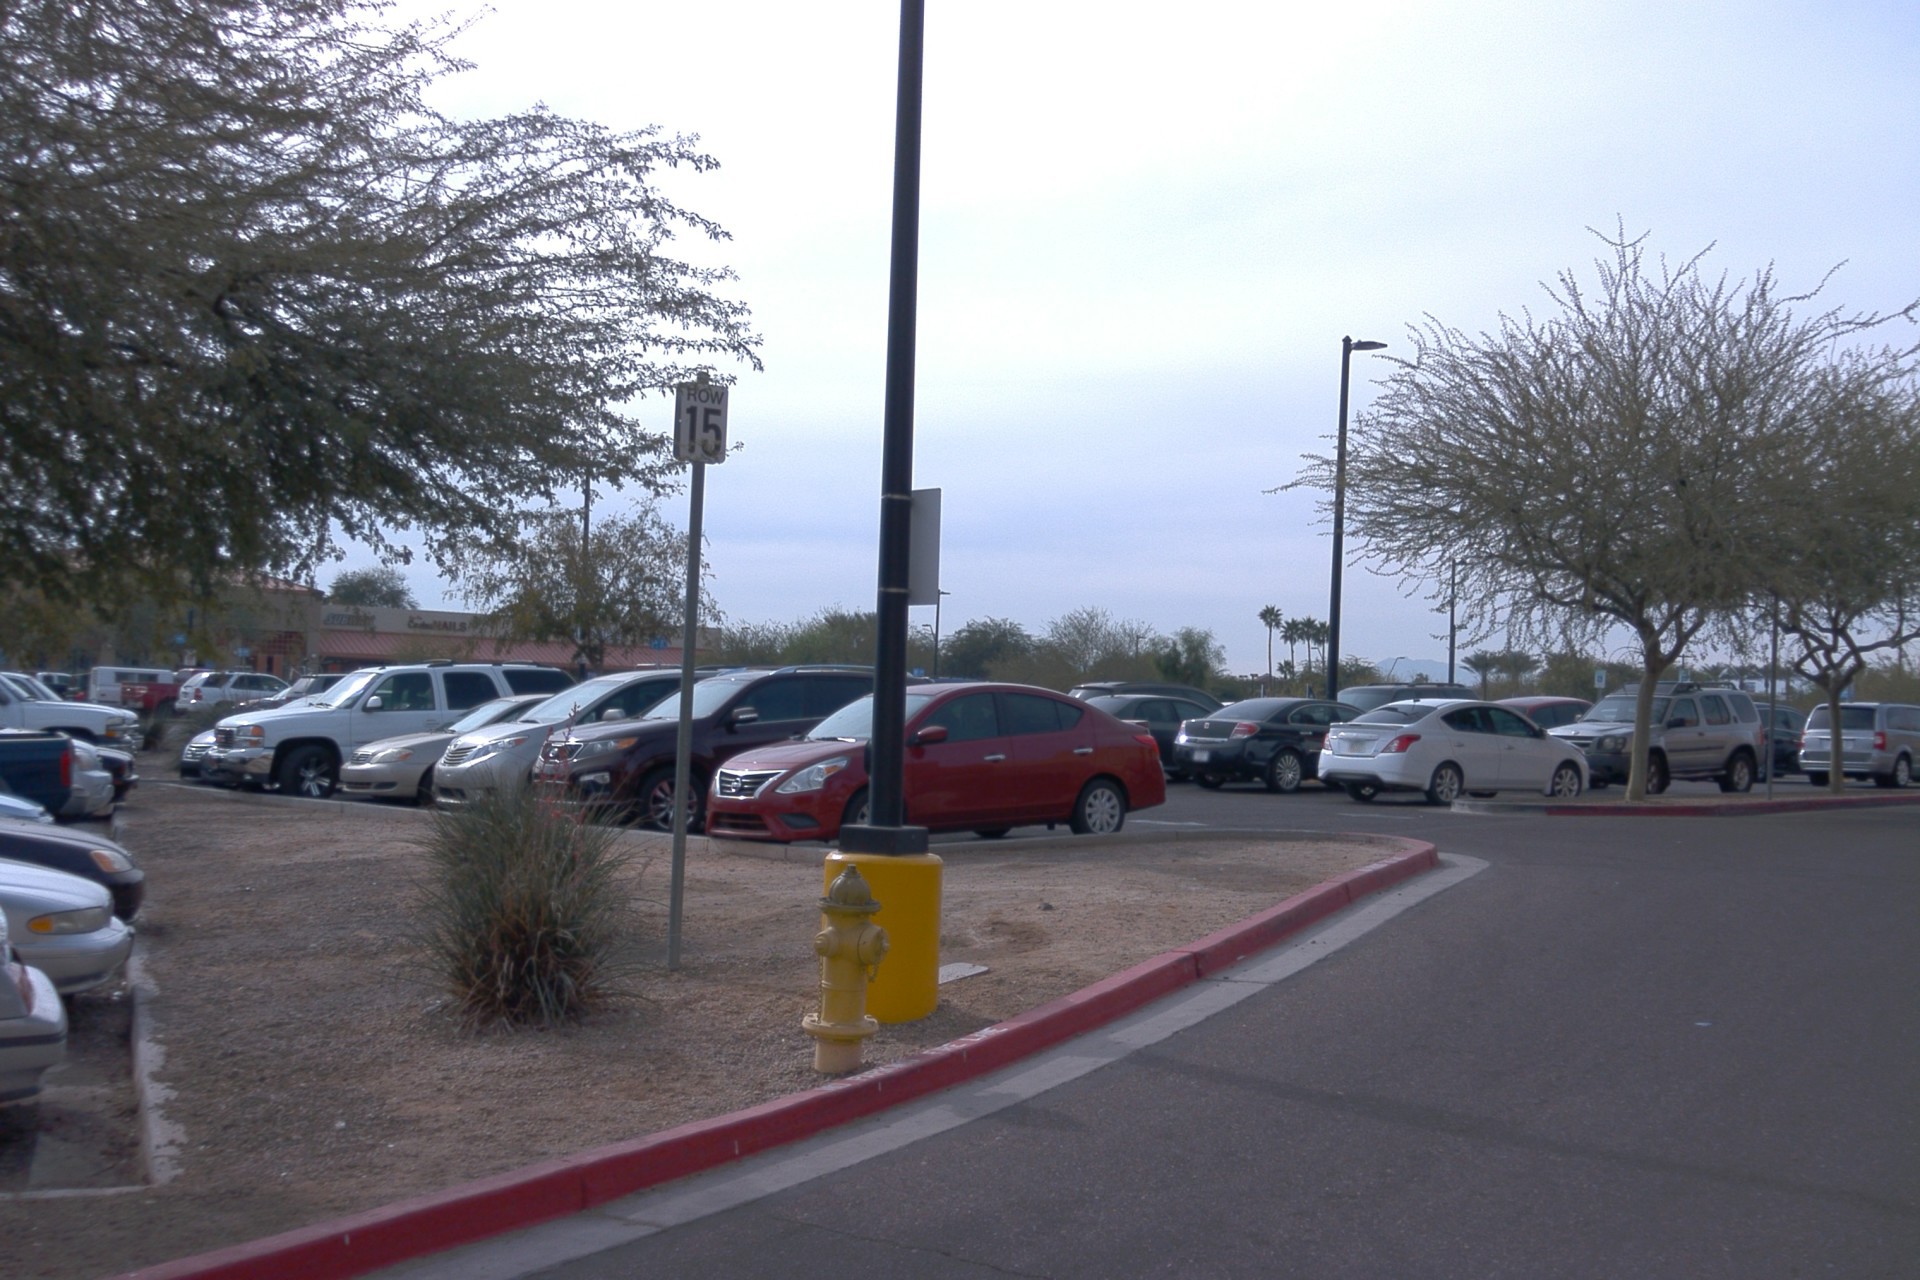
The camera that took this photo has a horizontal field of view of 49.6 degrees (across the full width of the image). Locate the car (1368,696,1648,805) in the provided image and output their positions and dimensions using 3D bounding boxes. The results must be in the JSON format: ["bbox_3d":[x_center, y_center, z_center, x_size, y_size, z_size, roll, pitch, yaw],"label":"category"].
[{"bbox_3d":[9.473,1.853,35.738,4.573,1.700,2.374,2,-1,-39],"label":"car"}]

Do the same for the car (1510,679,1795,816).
[{"bbox_3d":[11.046,1.657,32.951,4.785,1.980,2.063,2,-1,-40],"label":"car"}]

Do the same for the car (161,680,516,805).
[{"bbox_3d":[-9.104,1.467,30.615,4.538,1.660,2.065,2,-1,-42],"label":"car"}]

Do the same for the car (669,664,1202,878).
[{"bbox_3d":[-0.124,1.100,18.744,4.603,1.680,1.958,2,-1,-40],"label":"car"}]

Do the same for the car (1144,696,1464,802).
[{"bbox_3d":[5.457,1.666,32.628,4.911,1.500,2.131,2,-1,-37],"label":"car"}]

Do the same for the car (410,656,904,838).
[{"bbox_3d":[-3.429,1.174,23.909,5.124,1.870,2.258,2,-1,-34],"label":"car"}]

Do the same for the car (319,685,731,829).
[{"bbox_3d":[-5.397,1.410,25.939,4.586,1.610,2.029,2,-1,-33],"label":"car"}]

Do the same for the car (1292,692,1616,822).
[{"bbox_3d":[7.161,1.637,29.913,4.547,1.680,2.161,2,-1,-38],"label":"car"}]

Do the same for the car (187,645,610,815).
[{"bbox_3d":[-7.532,1.164,28.006,4.963,2.090,2.378,2,-1,-35],"label":"car"}]

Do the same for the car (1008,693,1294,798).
[{"bbox_3d":[3.224,1.712,34.522,4.543,1.580,2.091,2,-1,-39],"label":"car"}]

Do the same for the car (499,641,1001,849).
[{"bbox_3d":[-2.125,1.037,21.746,4.724,1.930,2.278,2,-1,-39],"label":"car"}]
